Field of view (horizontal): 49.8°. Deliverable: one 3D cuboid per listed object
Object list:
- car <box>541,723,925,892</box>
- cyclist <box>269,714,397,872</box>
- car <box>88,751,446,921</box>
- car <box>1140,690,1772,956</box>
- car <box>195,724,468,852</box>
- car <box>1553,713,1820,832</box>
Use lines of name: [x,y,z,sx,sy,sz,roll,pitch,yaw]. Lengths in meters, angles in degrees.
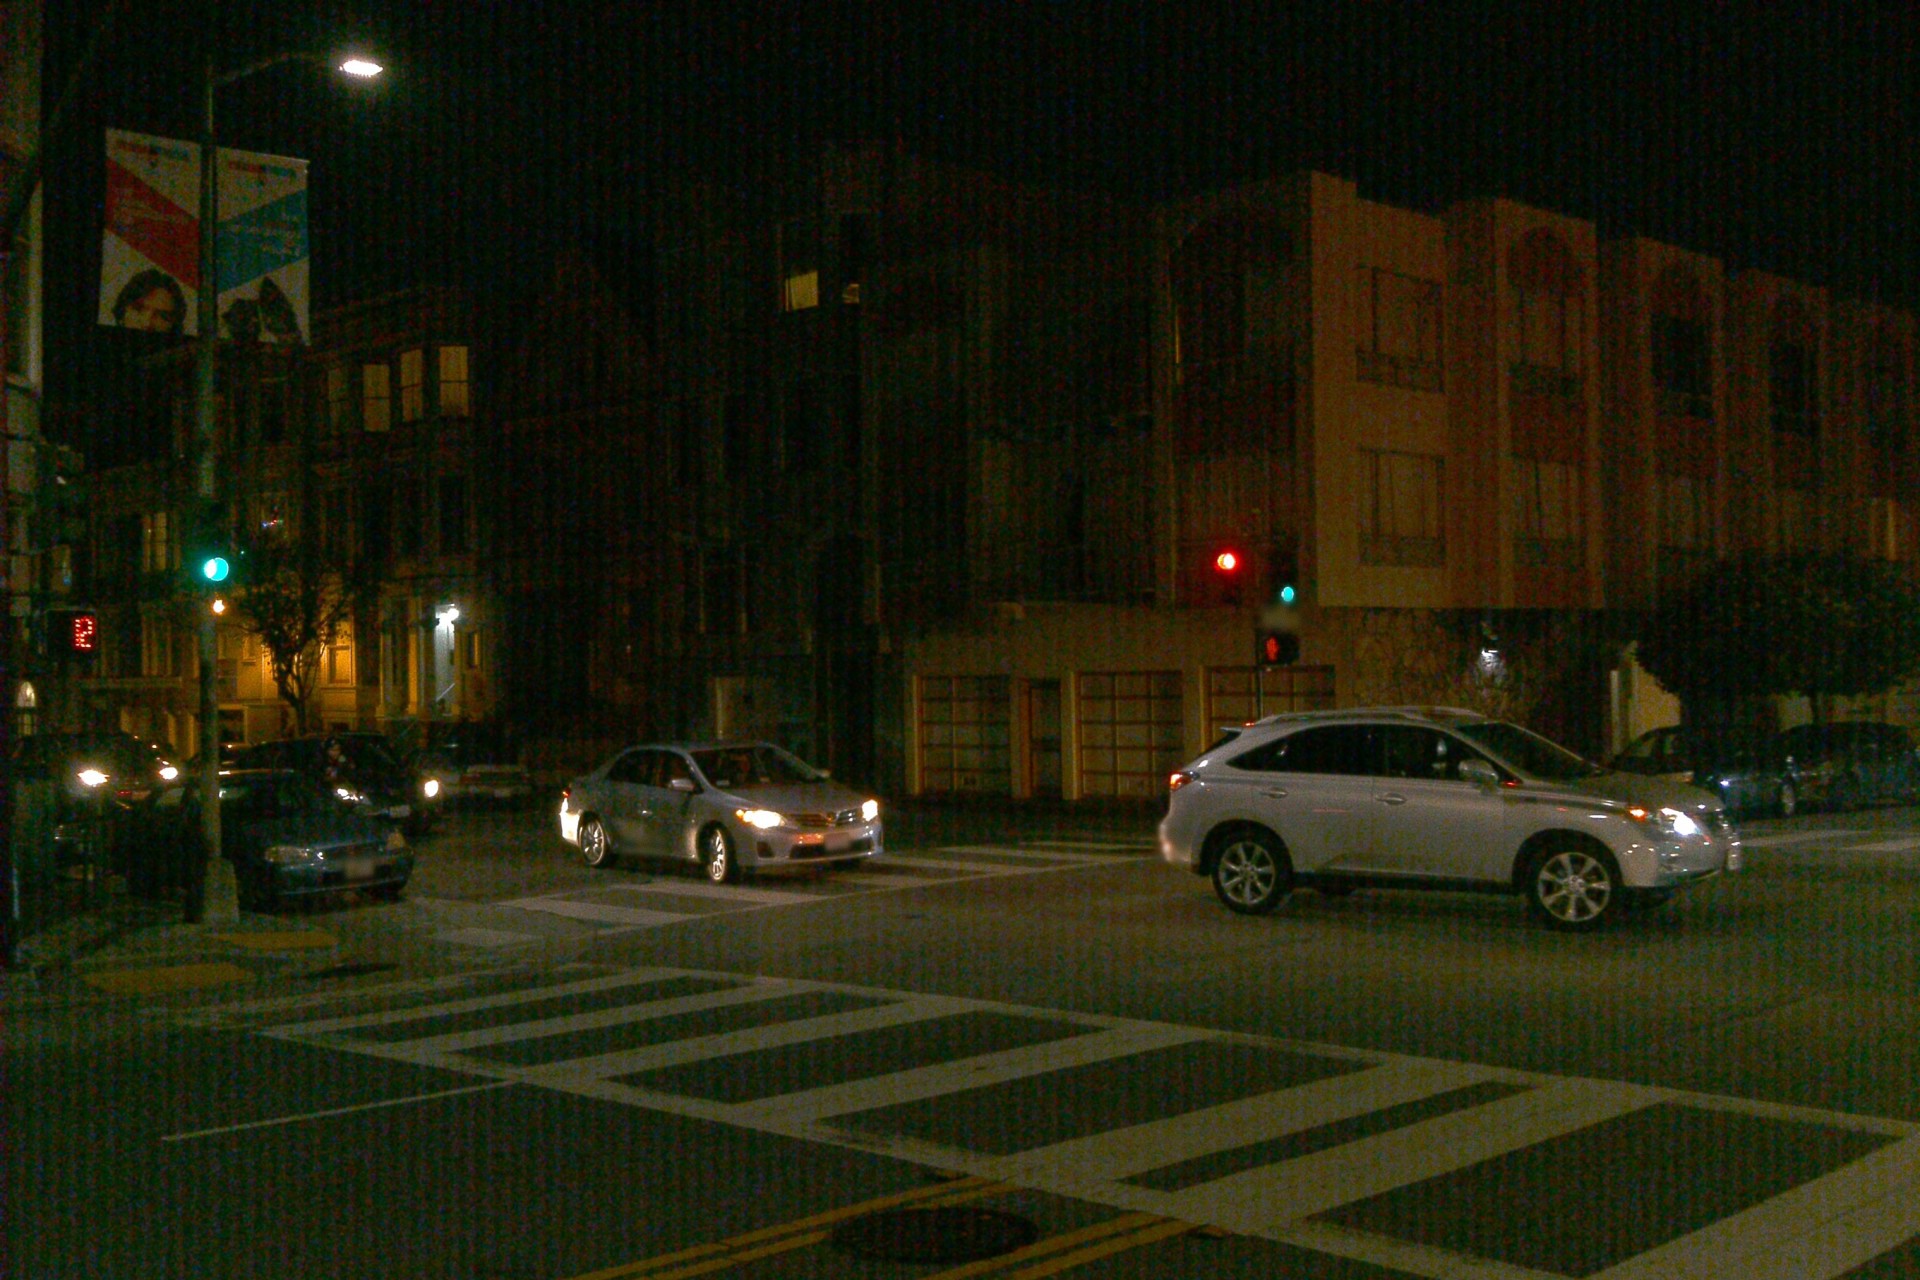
car: [-2.623,1.766,22.978,2.125,1.450,4.460,1,0,-40]
cyclist: [-7.636,1.826,25.133,0.771,1.760,1.750,1,0,-43]
car: [-7.499,2.012,22.147,1.946,1.350,4.278,1,0,-44]
car: [4.066,1.383,17.237,4.616,1.760,2.138,1,0,36]
car: [-9.161,2.071,29.915,2.021,1.480,4.494,1,0,-42]
car: [10.607,1.859,29.967,1.967,1.430,4.633,1,0,42]
